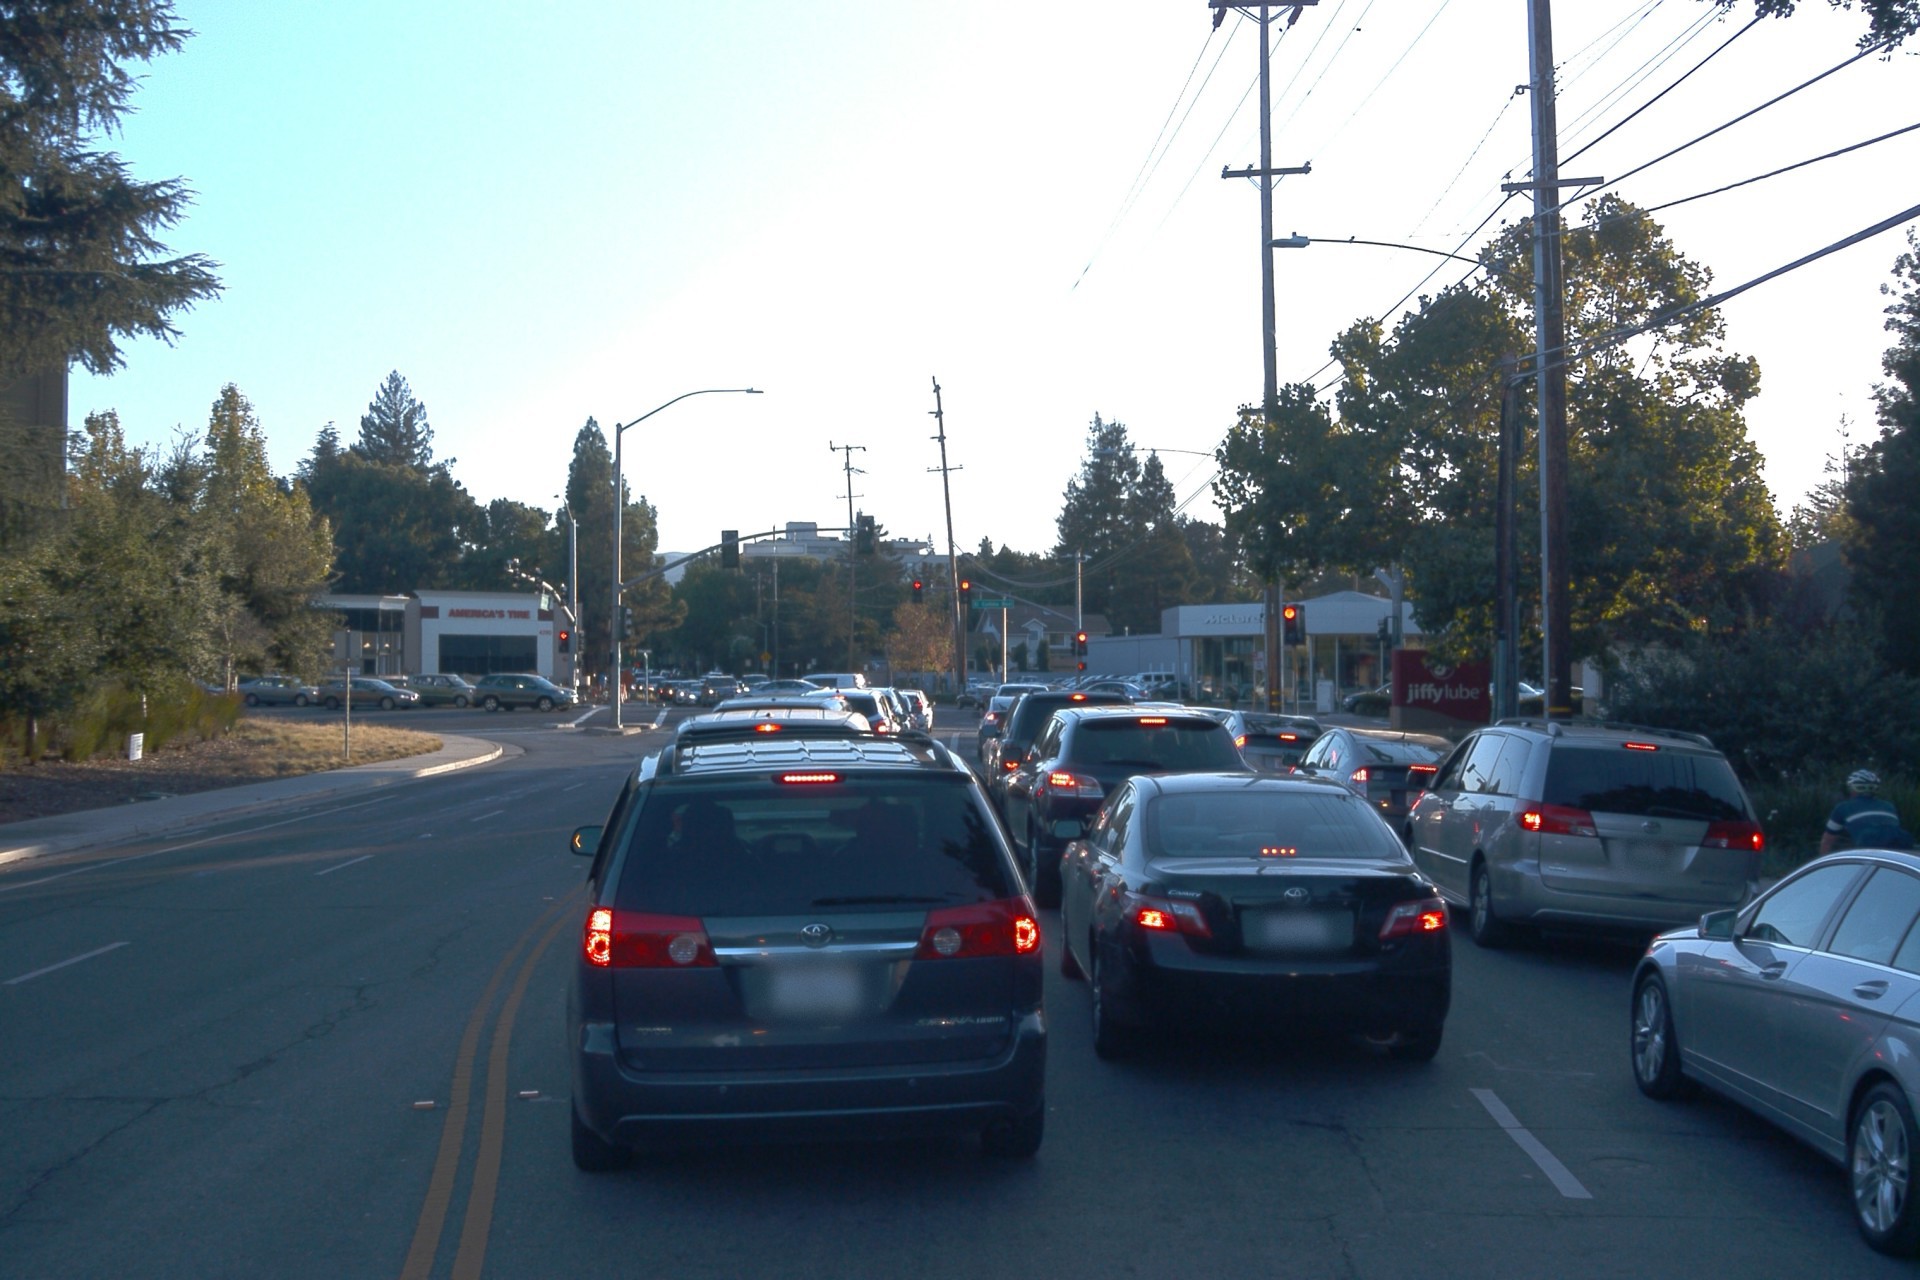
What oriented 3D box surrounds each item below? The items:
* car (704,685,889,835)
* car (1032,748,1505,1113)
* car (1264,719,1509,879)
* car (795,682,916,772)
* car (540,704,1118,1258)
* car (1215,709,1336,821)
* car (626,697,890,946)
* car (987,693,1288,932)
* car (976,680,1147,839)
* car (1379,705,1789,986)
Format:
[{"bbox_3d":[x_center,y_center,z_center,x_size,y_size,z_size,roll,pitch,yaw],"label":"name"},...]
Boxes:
[{"bbox_3d":[-1.862,1.360,24.685,1.760,1.570,3.956,0,0,2],"label":"car"},{"bbox_3d":[1.529,1.479,11.982,1.915,1.490,4.528,0,0,-2],"label":"car"},{"bbox_3d":[4.676,1.711,23.272,1.785,1.510,4.026,0,0,-2],"label":"car"},{"bbox_3d":[-1.660,1.379,33.817,1.709,1.350,3.337,0,0,2],"label":"car"},{"bbox_3d":[-0.875,1.305,10.236,2.102,1.830,5.461,0,0,-9],"label":"car"},{"bbox_3d":[4.670,1.824,30.934,1.418,1.490,3.138,0,0,2],"label":"car"},{"bbox_3d":[-1.462,1.306,16.302,1.812,1.620,4.042,0,0,-2],"label":"car"},{"bbox_3d":[1.458,1.435,18.836,1.992,1.810,4.553,0,0,-5],"label":"car"},{"bbox_3d":[1.186,1.419,25.823,1.759,1.770,3.957,0,0,-3],"label":"car"},{"bbox_3d":[4.903,1.524,17.100,2.061,1.850,4.903,0,0,2],"label":"car"}]
